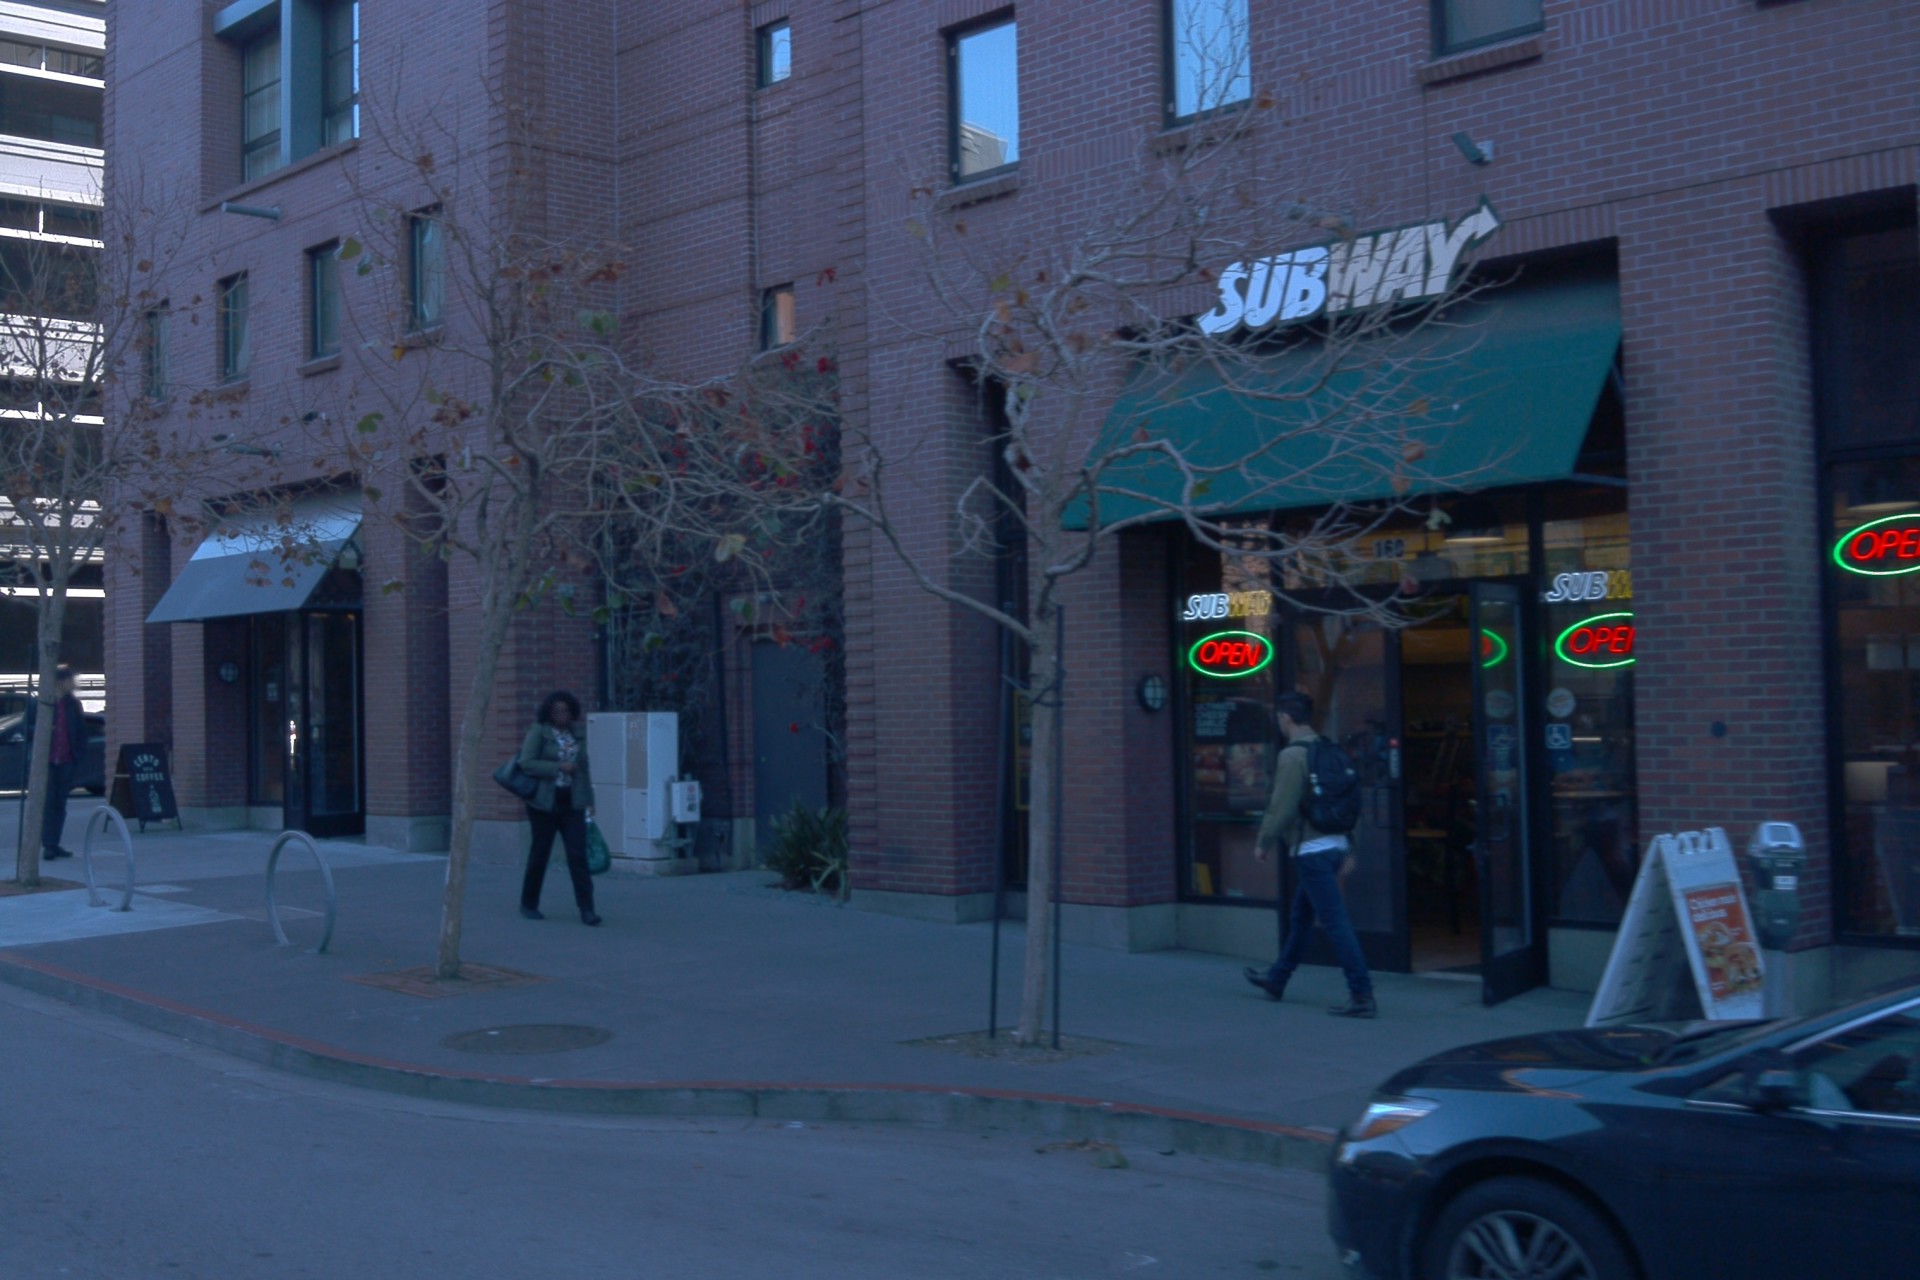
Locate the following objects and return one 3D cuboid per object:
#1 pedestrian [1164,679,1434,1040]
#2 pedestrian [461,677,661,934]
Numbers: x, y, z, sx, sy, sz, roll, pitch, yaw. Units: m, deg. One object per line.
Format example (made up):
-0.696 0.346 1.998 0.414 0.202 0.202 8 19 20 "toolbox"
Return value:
1.944 1.196 12.007 0.992 1.930 1.153 0 0 -43 "pedestrian"
-2.982 1.192 15.567 1.059 1.810 1.108 0 0 -39 "pedestrian"
